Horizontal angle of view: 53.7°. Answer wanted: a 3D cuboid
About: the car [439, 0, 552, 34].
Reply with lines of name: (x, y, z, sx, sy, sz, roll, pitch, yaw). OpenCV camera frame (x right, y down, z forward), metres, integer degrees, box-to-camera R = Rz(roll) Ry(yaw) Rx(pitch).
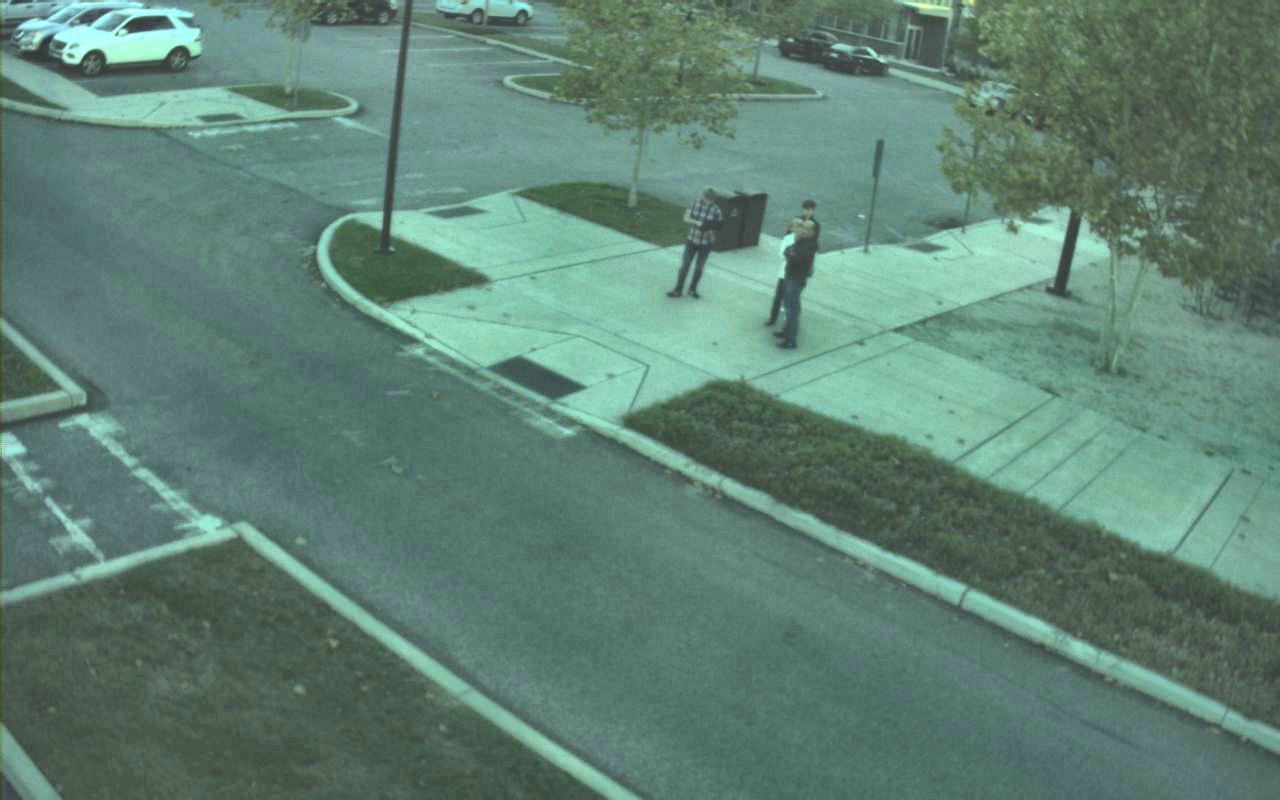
car: (-6.310, -16.884, 53.069, 2.038, 1.773, 4.836, 12, 21, 40)

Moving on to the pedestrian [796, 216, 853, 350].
pedestrian: (2.630, -1.682, 17.972, 0.769, 1.803, 0.768, 0, 15, 5)

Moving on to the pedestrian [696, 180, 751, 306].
pedestrian: (1.303, -2.435, 19.436, 0.767, 1.820, 0.789, 1, 15, 8)

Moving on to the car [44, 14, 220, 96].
car: (-14.391, -9.685, 32.083, 2.058, 1.818, 4.908, 11, 20, 37)

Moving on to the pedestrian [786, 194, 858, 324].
pedestrian: (2.819, -2.200, 19.366, 0.795, 1.839, 0.815, 11, 19, 37)

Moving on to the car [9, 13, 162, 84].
car: (-16.589, -10.370, 33.273, 1.957, 1.607, 4.533, 12, 21, 39)
